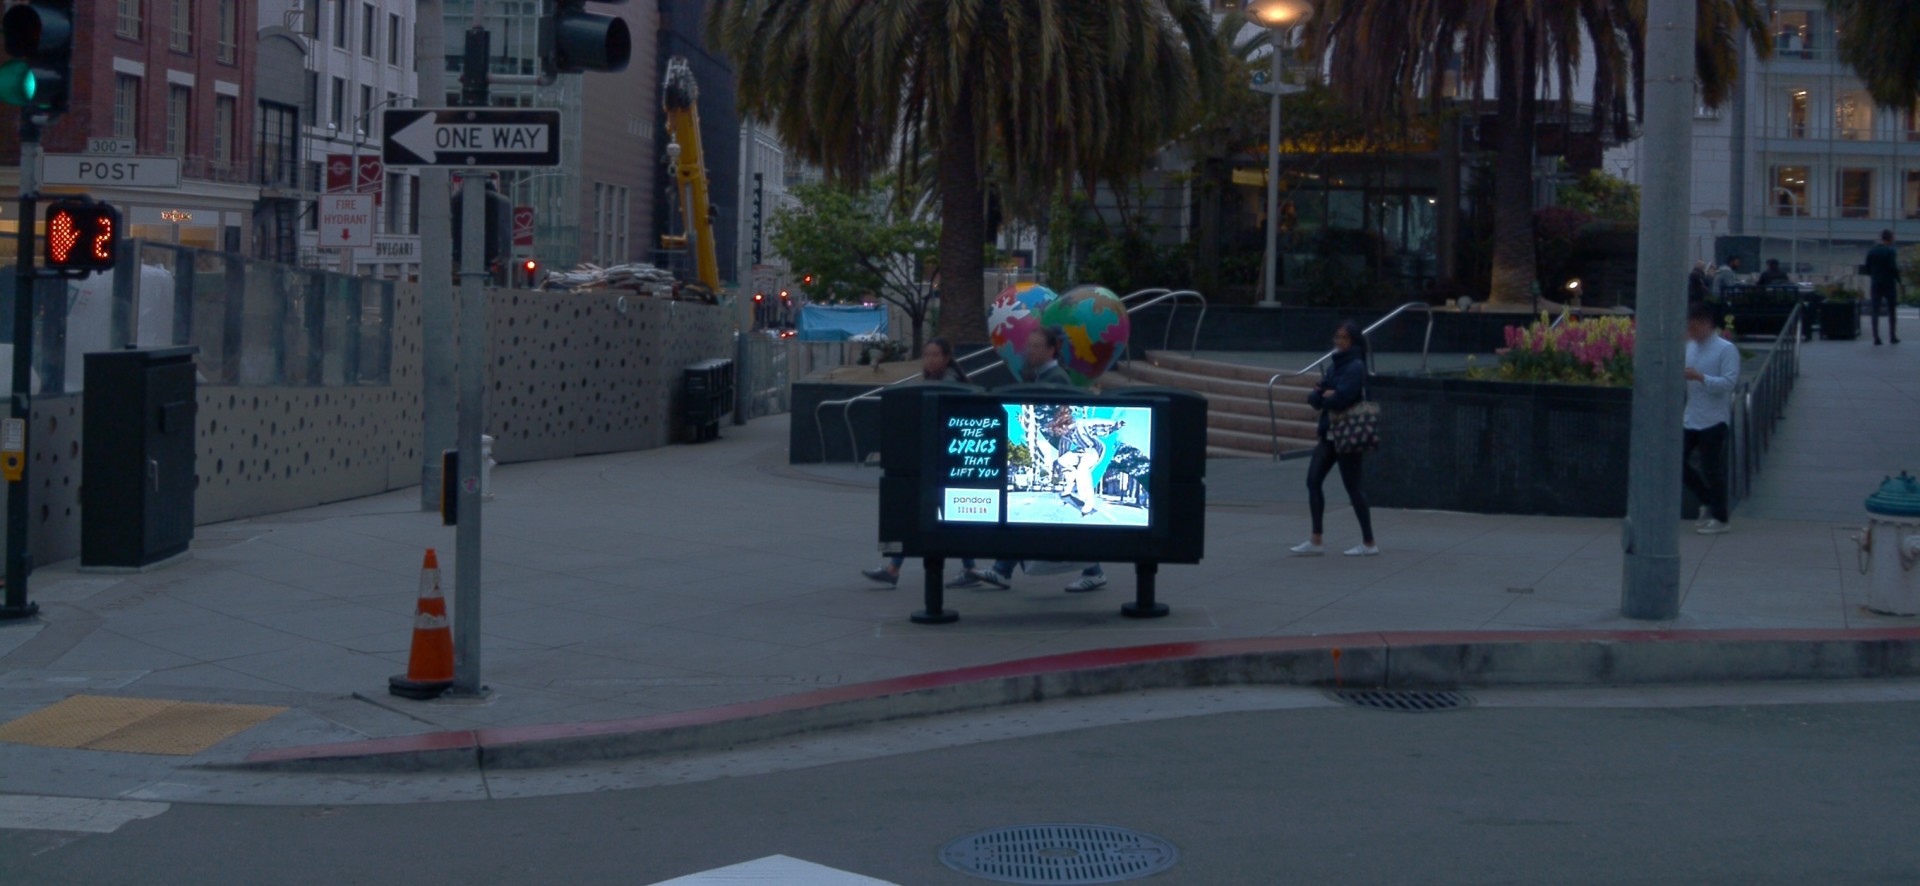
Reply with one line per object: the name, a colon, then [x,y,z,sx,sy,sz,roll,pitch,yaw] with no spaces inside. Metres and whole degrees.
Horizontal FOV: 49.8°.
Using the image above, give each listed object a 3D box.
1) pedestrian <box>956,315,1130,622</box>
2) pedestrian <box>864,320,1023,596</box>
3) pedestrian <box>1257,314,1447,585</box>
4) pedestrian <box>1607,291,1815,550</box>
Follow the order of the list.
pedestrian: [0.505,0.122,13.102,1.000,1.829,1.002,0,1,-3]
pedestrian: [-0.128,0.065,13.704,1.000,1.719,1.002,0,2,-3]
pedestrian: [2.673,0.007,14.188,1.000,1.749,1.002,0,2,-9]
pedestrian: [5.403,-0.202,14.901,1.000,1.759,1.002,-1,2,-21]
